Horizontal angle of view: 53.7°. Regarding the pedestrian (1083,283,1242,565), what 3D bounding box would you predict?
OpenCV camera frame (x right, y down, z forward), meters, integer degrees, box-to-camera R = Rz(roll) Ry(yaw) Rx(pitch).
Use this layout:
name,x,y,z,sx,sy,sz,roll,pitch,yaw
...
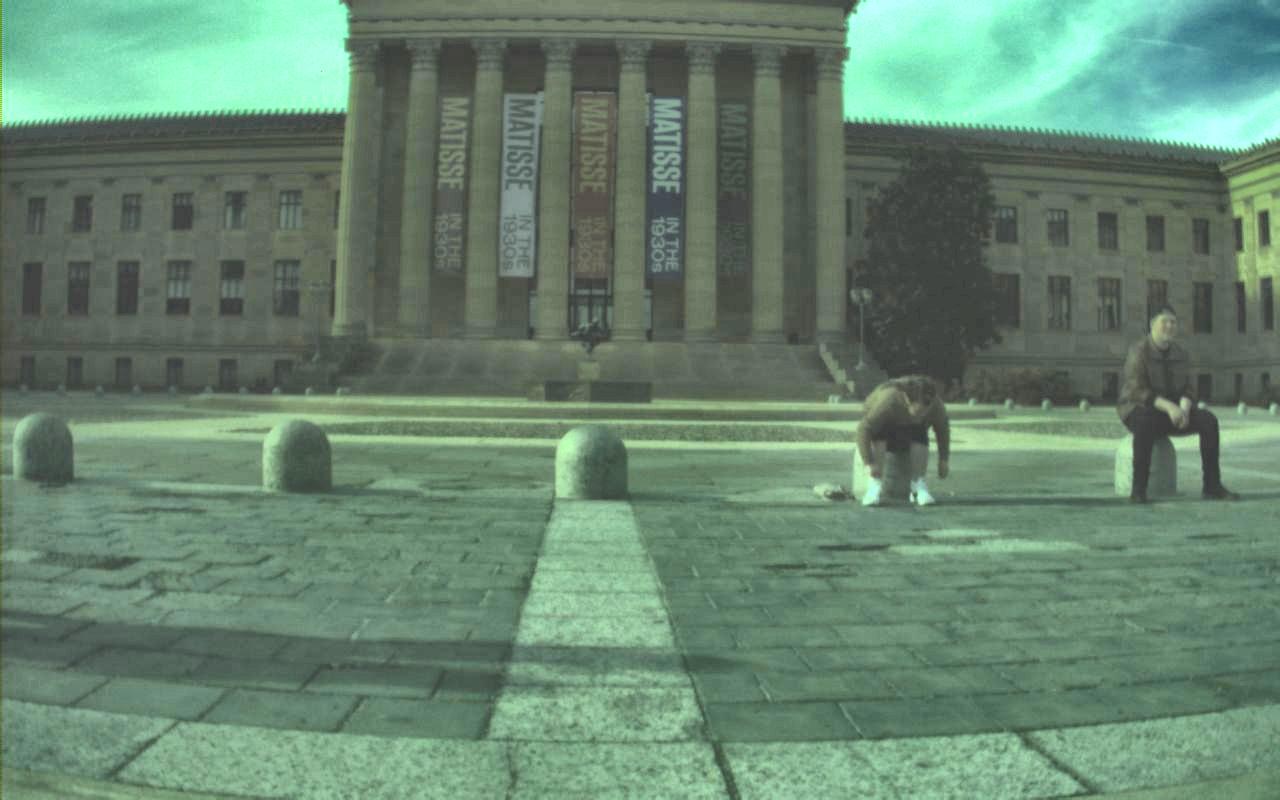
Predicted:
name,x,y,z,sx,sy,sz,roll,pitch,yaw
pedestrian,3.501,0.163,7.869,0.848,1.786,0.847,0,0,2

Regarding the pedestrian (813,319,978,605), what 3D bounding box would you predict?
name,x,y,z,sx,sy,sz,roll,pitch,yaw
pedestrian,1.561,0.361,7.674,0.831,1.669,0.848,0,0,-2
